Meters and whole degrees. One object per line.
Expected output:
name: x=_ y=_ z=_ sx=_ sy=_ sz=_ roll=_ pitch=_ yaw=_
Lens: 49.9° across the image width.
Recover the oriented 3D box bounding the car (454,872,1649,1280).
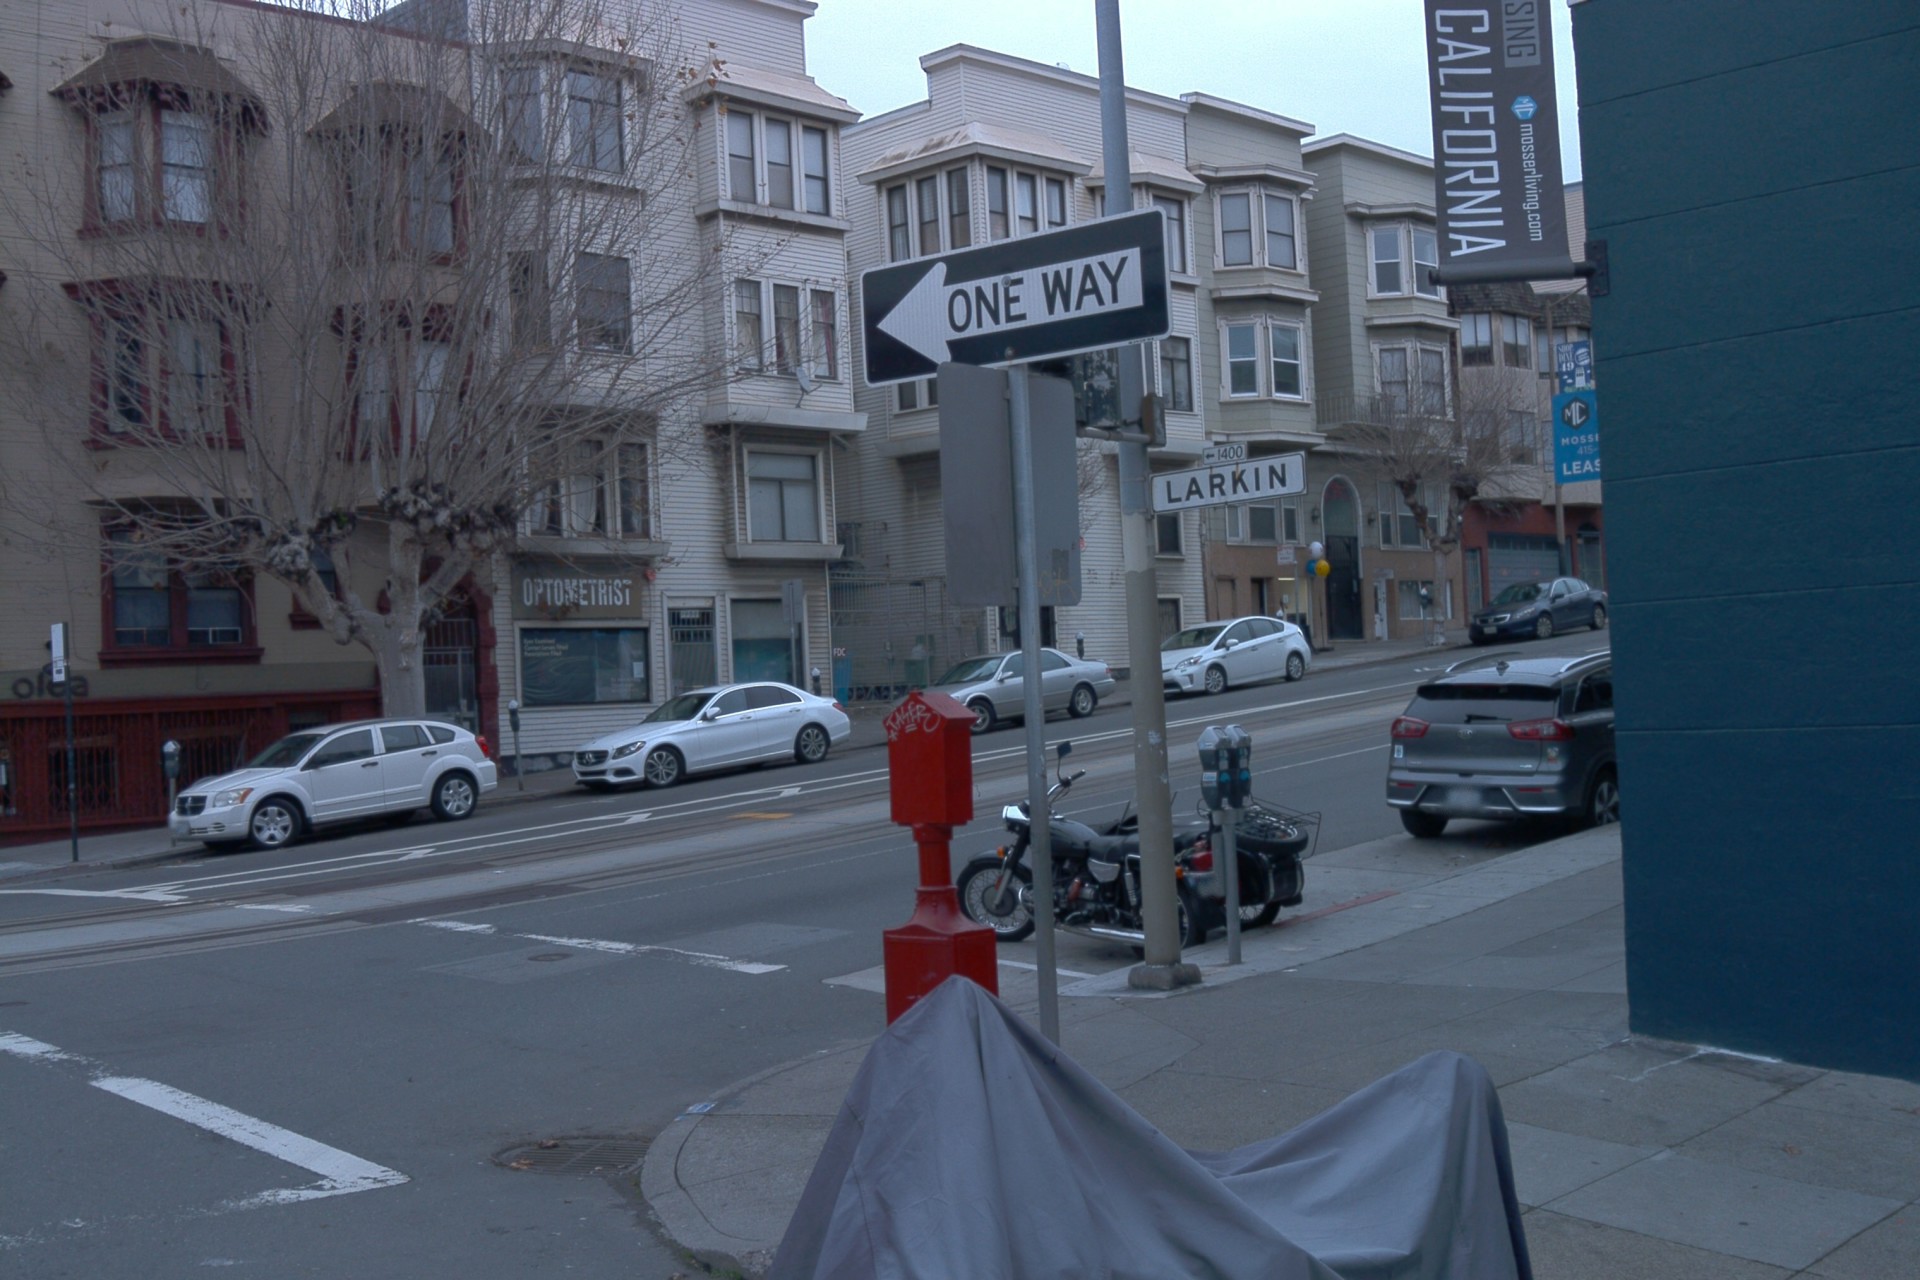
car: x=0.332 y=1.393 z=4.286 sx=2.490 sy=1.520 sz=1.048 roll=-1 pitch=1 yaw=-44

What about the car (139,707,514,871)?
car: x=-8.482 y=1.919 z=27.919 sx=2.053 sy=1.847 sz=4.407 roll=1 pitch=1 yaw=44

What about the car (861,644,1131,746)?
car: x=0.712 y=0.921 z=37.121 sx=4.801 sy=1.657 sz=2.084 roll=-1 pitch=1 yaw=-45

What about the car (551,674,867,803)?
car: x=-3.872 y=1.467 z=32.361 sx=4.589 sy=1.757 sz=2.074 roll=-1 pitch=1 yaw=-44

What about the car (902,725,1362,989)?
car: x=1.133 y=1.379 z=14.055 sx=2.745 sy=1.460 sz=1.540 roll=0 pitch=1 yaw=42

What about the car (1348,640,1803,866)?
car: x=5.645 y=0.884 z=18.583 sx=2.132 sy=1.717 sz=4.606 roll=0 pitch=1 yaw=42
